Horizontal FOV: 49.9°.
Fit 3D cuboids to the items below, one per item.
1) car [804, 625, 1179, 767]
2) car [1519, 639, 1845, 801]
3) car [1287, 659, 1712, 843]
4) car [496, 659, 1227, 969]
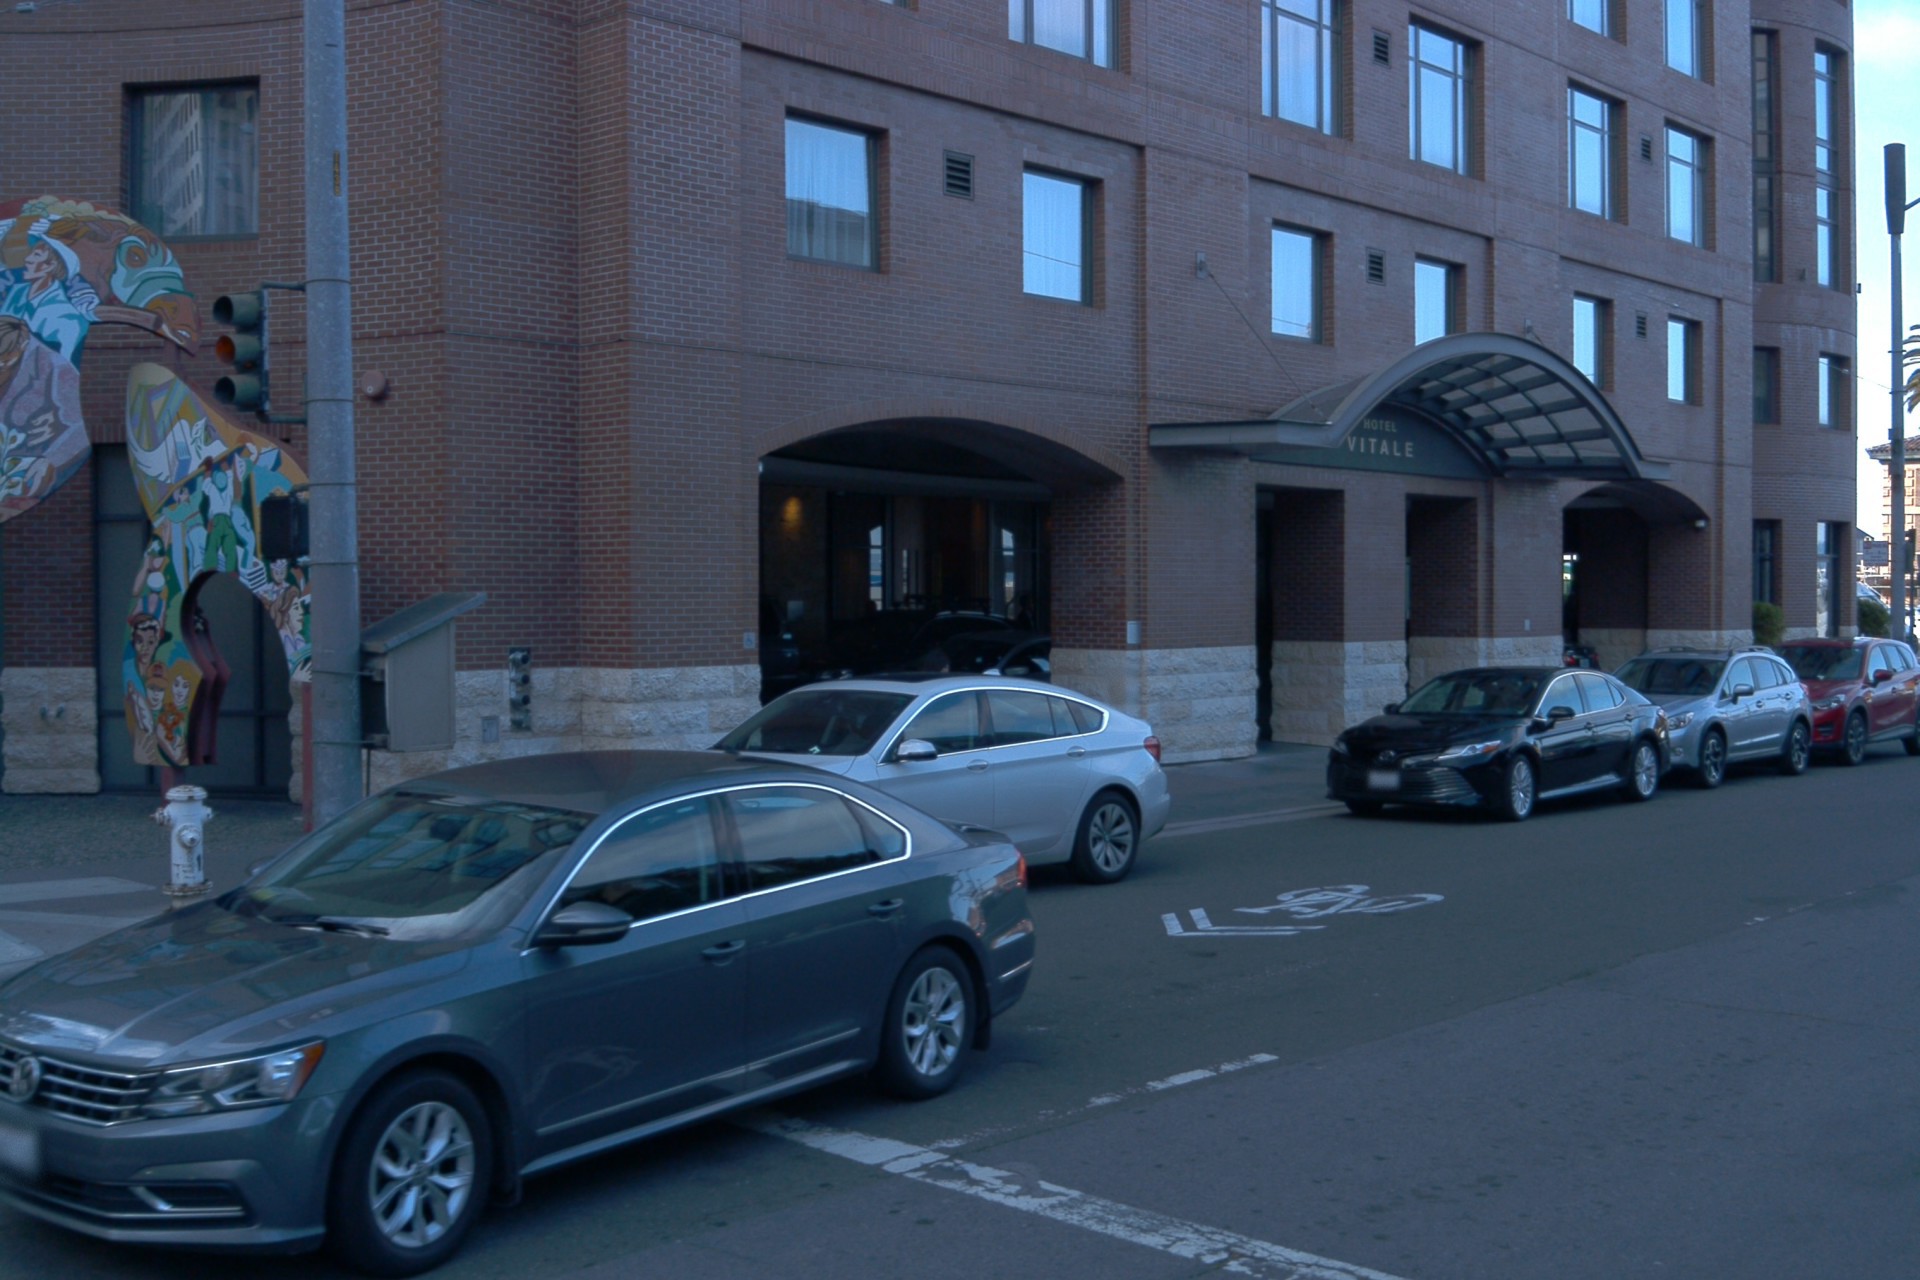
[{"bbox_3d":[0.508,0.628,26.350,2.054,1.600,4.898,1,1,42],"label":"car"},{"bbox_3d":[8.714,0.870,24.687,2.045,1.693,4.467,1,1,43],"label":"car"},{"bbox_3d":[5.623,1.019,21.062,2.204,1.534,4.940,1,1,42],"label":"car"},{"bbox_3d":[-0.500,1.031,14.532,2.152,1.680,5.054,1,1,43],"label":"car"}]
